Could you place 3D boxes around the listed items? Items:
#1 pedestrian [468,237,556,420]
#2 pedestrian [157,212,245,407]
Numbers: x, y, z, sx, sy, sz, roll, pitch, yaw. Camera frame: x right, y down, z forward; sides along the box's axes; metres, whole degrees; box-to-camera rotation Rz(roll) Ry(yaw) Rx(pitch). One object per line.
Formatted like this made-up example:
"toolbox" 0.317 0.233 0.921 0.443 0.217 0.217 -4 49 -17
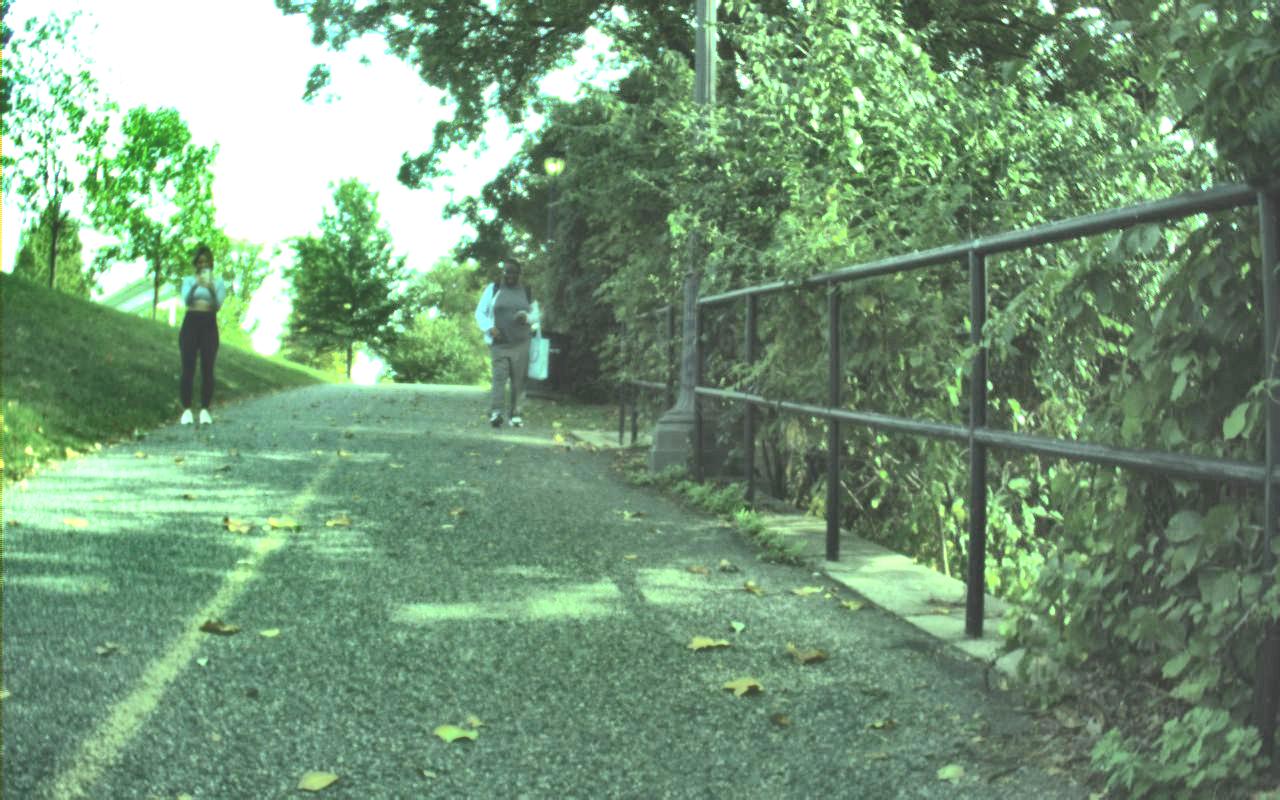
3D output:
"pedestrian" -1.272 -0.692 12.369 0.829 1.742 0.831 0 0 -7
"pedestrian" -3.931 -0.782 10.683 0.758 1.688 0.756 0 0 -18
